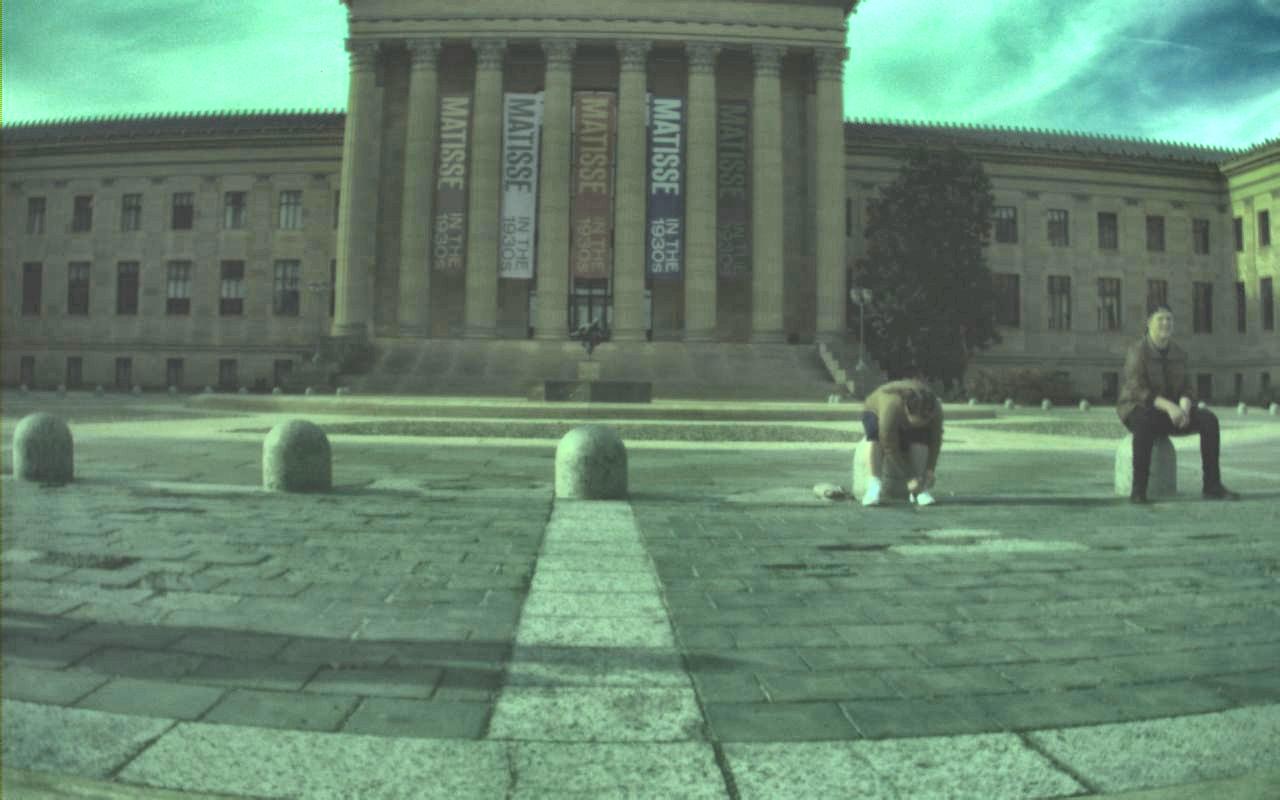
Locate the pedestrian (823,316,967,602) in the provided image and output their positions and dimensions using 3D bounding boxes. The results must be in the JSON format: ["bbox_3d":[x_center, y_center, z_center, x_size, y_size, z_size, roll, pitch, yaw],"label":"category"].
[{"bbox_3d":[1.595,0.343,7.659,0.824,1.680,0.843,1,0,14],"label":"pedestrian"}]

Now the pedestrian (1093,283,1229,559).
[{"bbox_3d":[3.496,0.150,7.890,0.823,1.770,0.832,1,0,15],"label":"pedestrian"}]
